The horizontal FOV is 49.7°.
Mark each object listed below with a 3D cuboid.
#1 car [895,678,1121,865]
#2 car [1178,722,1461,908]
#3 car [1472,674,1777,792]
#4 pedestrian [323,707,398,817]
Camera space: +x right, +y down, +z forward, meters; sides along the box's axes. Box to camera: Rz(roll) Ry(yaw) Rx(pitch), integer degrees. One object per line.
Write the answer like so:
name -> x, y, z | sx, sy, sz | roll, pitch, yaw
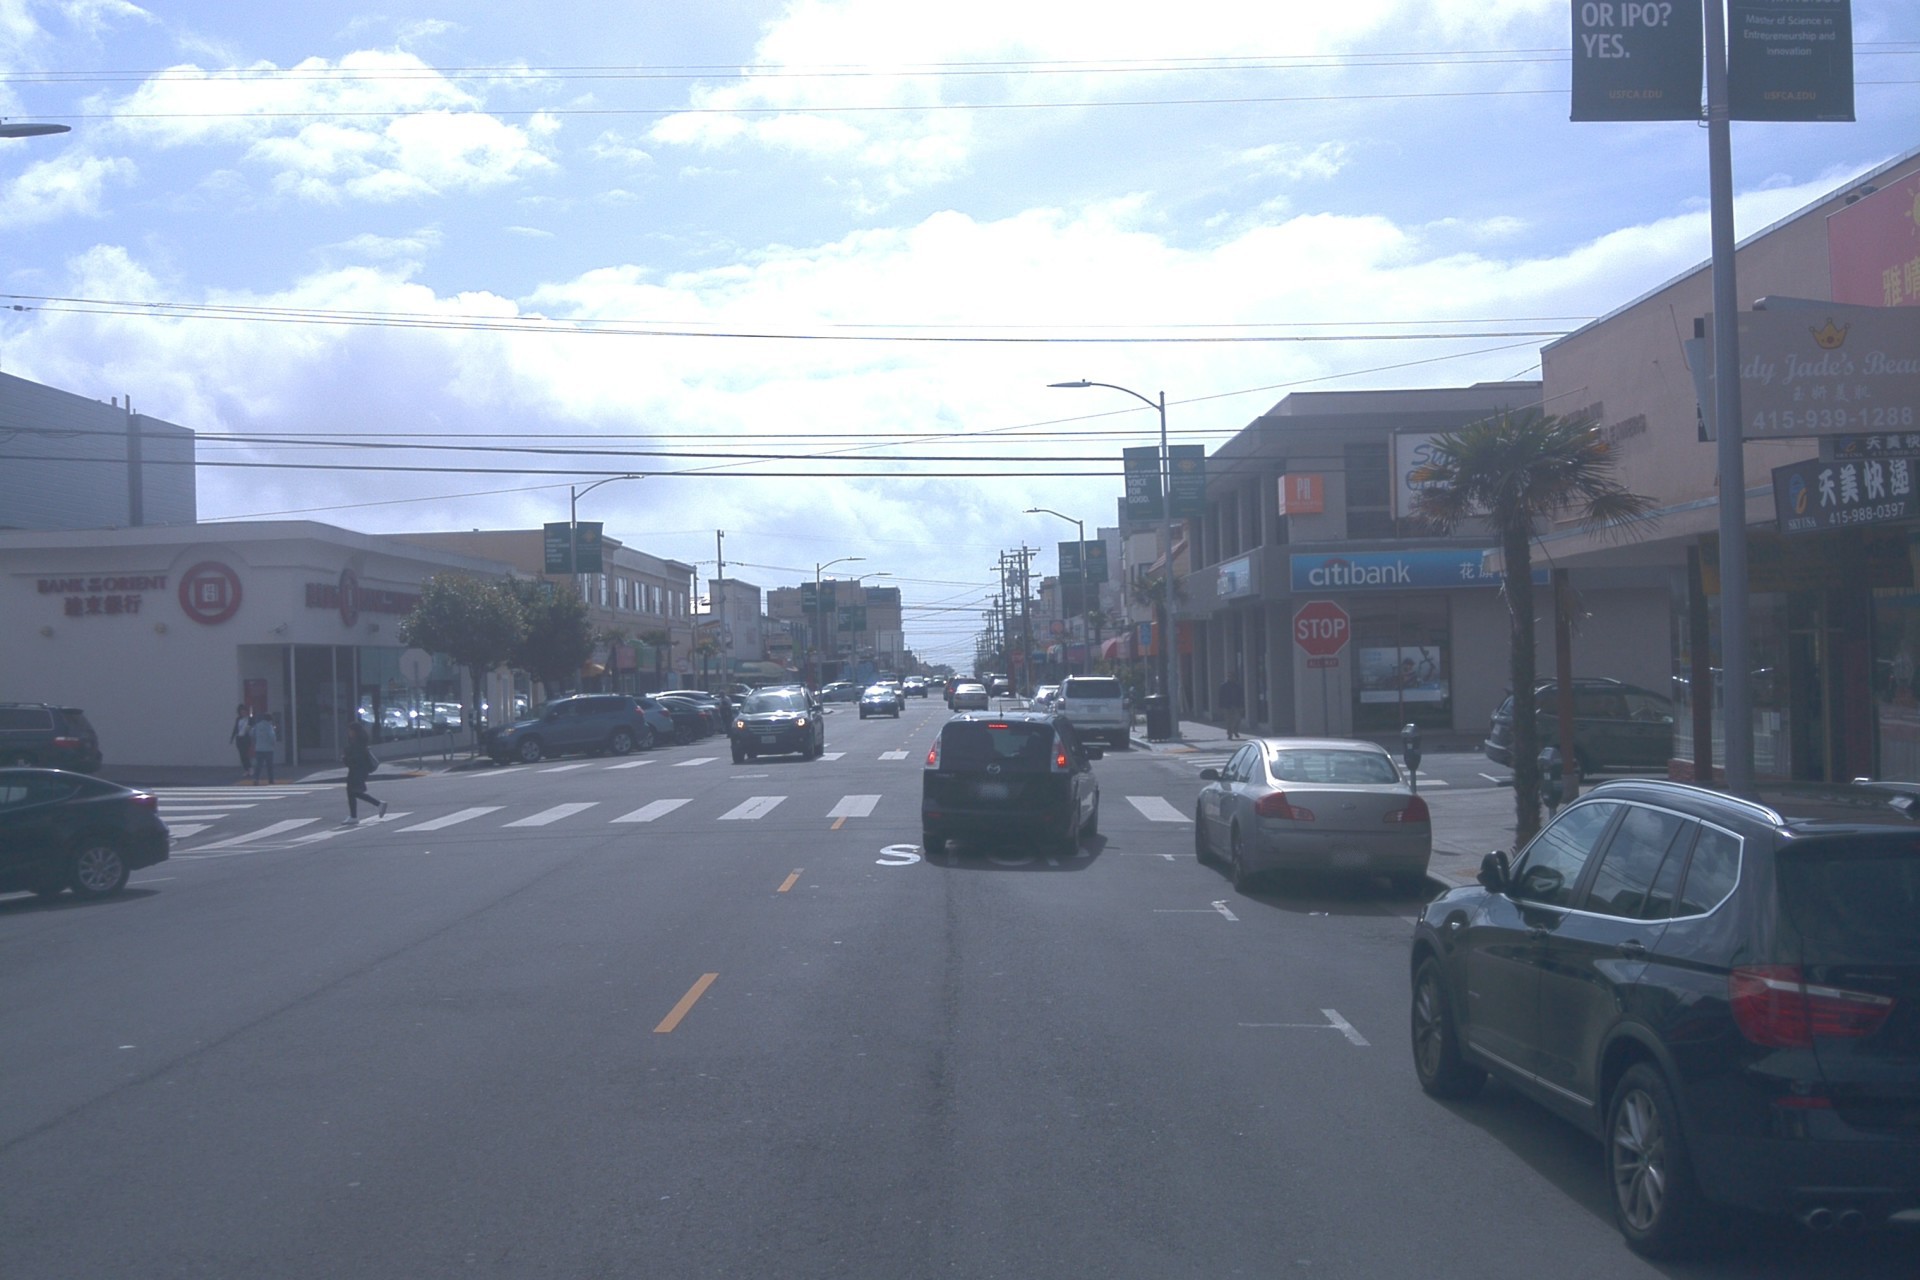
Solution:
car -> 0.685, 1.454, 24.599 | 2.096, 1.972, 4.572 | 0, -1, 9
car -> 3.459, 1.653, 20.879 | 1.988, 1.532, 4.724 | 0, -1, -1
car -> 10.976, 1.519, 34.470 | 4.417, 1.877, 1.991 | 0, -1, -1
pedestrian -> -9.280, 1.876, 32.130 | 0.935, 1.653, 0.998 | 0, -1, -4
